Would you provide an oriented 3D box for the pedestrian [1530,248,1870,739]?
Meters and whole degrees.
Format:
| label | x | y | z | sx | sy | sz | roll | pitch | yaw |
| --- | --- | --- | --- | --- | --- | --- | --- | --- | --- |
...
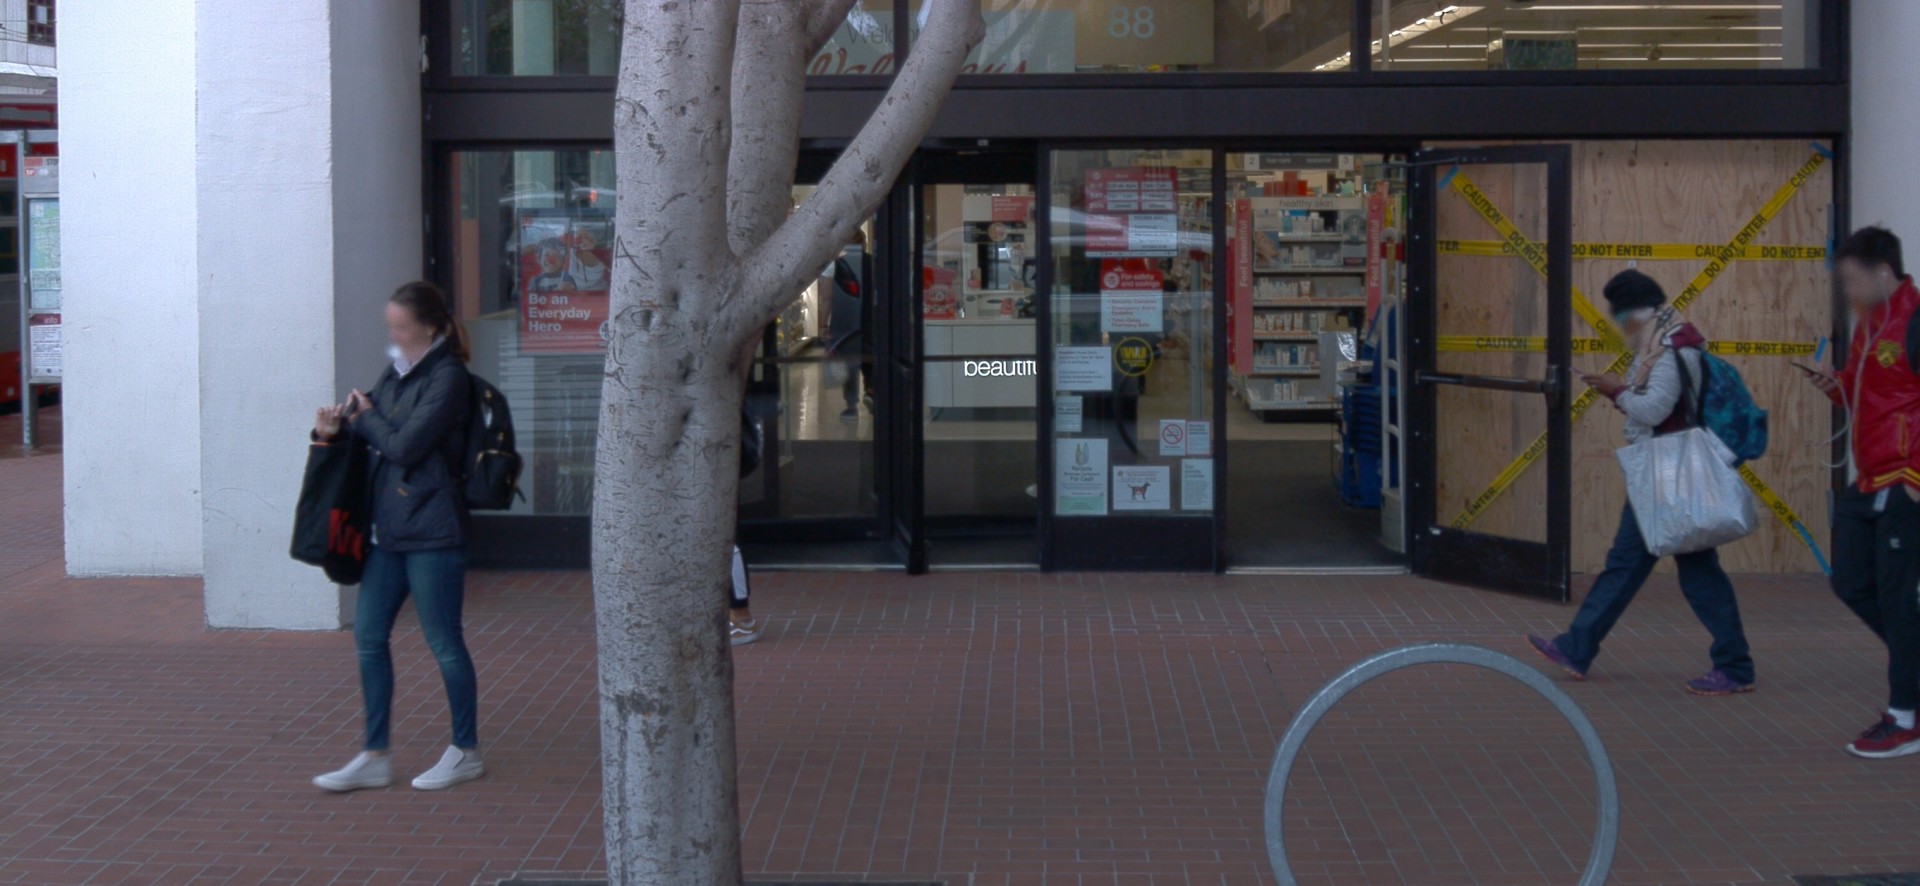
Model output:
| label | x | y | z | sx | sy | sz | roll | pitch | yaw |
| --- | --- | --- | --- | --- | --- | --- | --- | --- | --- |
| pedestrian | 2.738 | 0.128 | 7.719 | 0.980 | 1.715 | 0.966 | 0 | 2 | 4 |

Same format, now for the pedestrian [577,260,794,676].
| label | x | y | z | sx | sy | sz | roll | pitch | yaw |
| --- | --- | --- | --- | --- | --- | --- | --- | --- | --- |
| pedestrian | -1.148 | 0.064 | 8.628 | 0.866 | 1.655 | 0.695 | 0 | 1 | -8 |

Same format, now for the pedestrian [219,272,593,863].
| label | x | y | z | sx | sy | sz | roll | pitch | yaw |
| --- | --- | --- | --- | --- | --- | --- | --- | --- | --- |
| pedestrian | -1.795 | 0.316 | 6.647 | 0.902 | 1.715 | 0.834 | -1 | 2 | -39 |
